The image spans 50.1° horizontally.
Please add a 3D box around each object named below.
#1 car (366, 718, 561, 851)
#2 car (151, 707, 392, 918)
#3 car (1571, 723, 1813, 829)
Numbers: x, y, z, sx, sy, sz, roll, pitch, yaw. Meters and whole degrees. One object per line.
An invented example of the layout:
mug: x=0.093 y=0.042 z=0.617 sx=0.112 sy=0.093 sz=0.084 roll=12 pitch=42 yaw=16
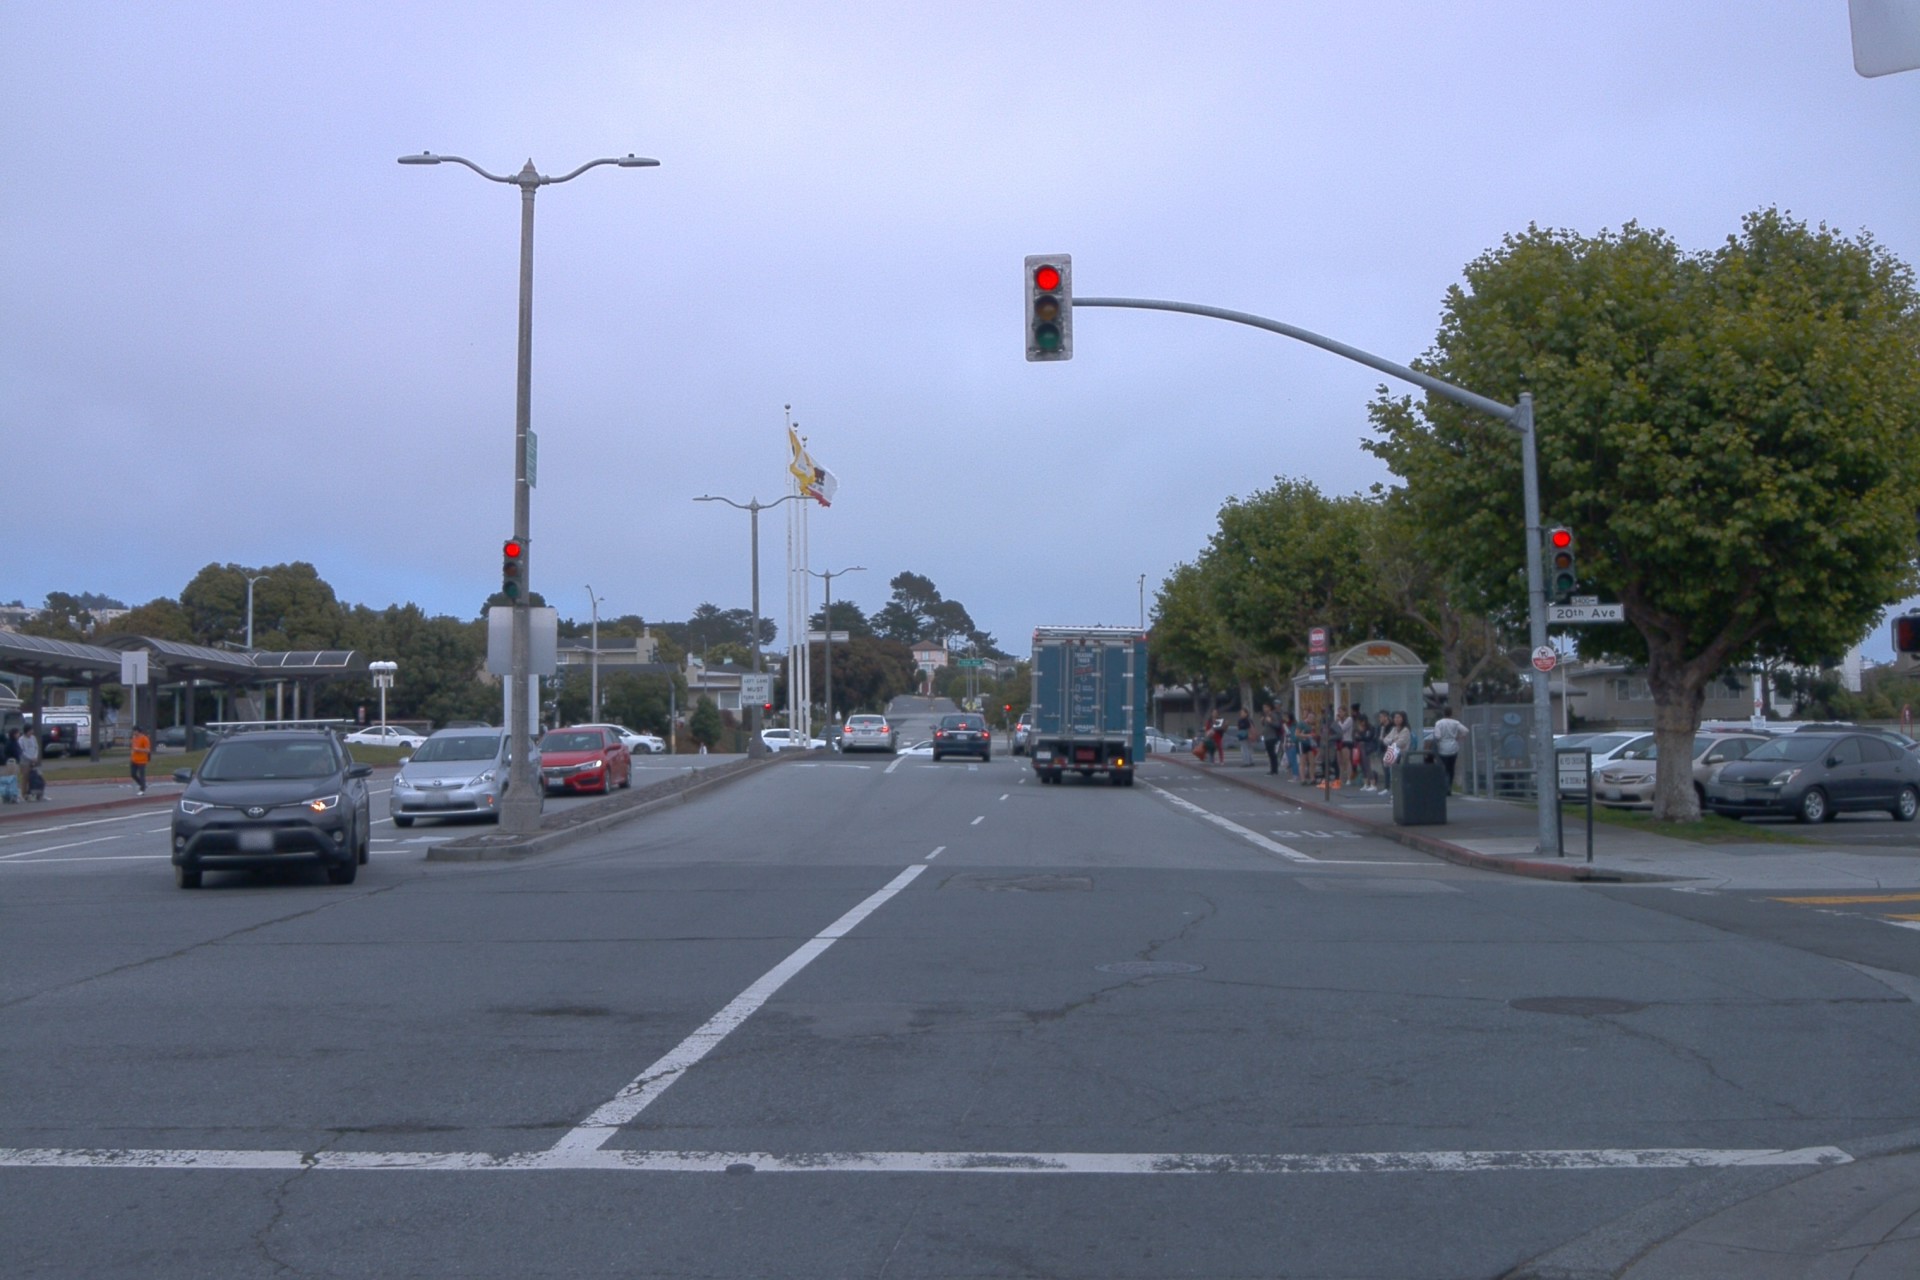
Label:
car: x=-8.165 y=2.330 z=34.274 sx=2.109 sy=1.825 sz=4.682 roll=0 pitch=1 yaw=0
car: x=-7.566 y=1.806 z=23.022 sx=2.100 sy=1.889 sz=4.594 roll=0 pitch=1 yaw=-13
car: x=12.846 y=2.333 z=36.020 sx=3.959 sy=1.540 sz=1.985 roll=-1 pitch=1 yaw=-33
